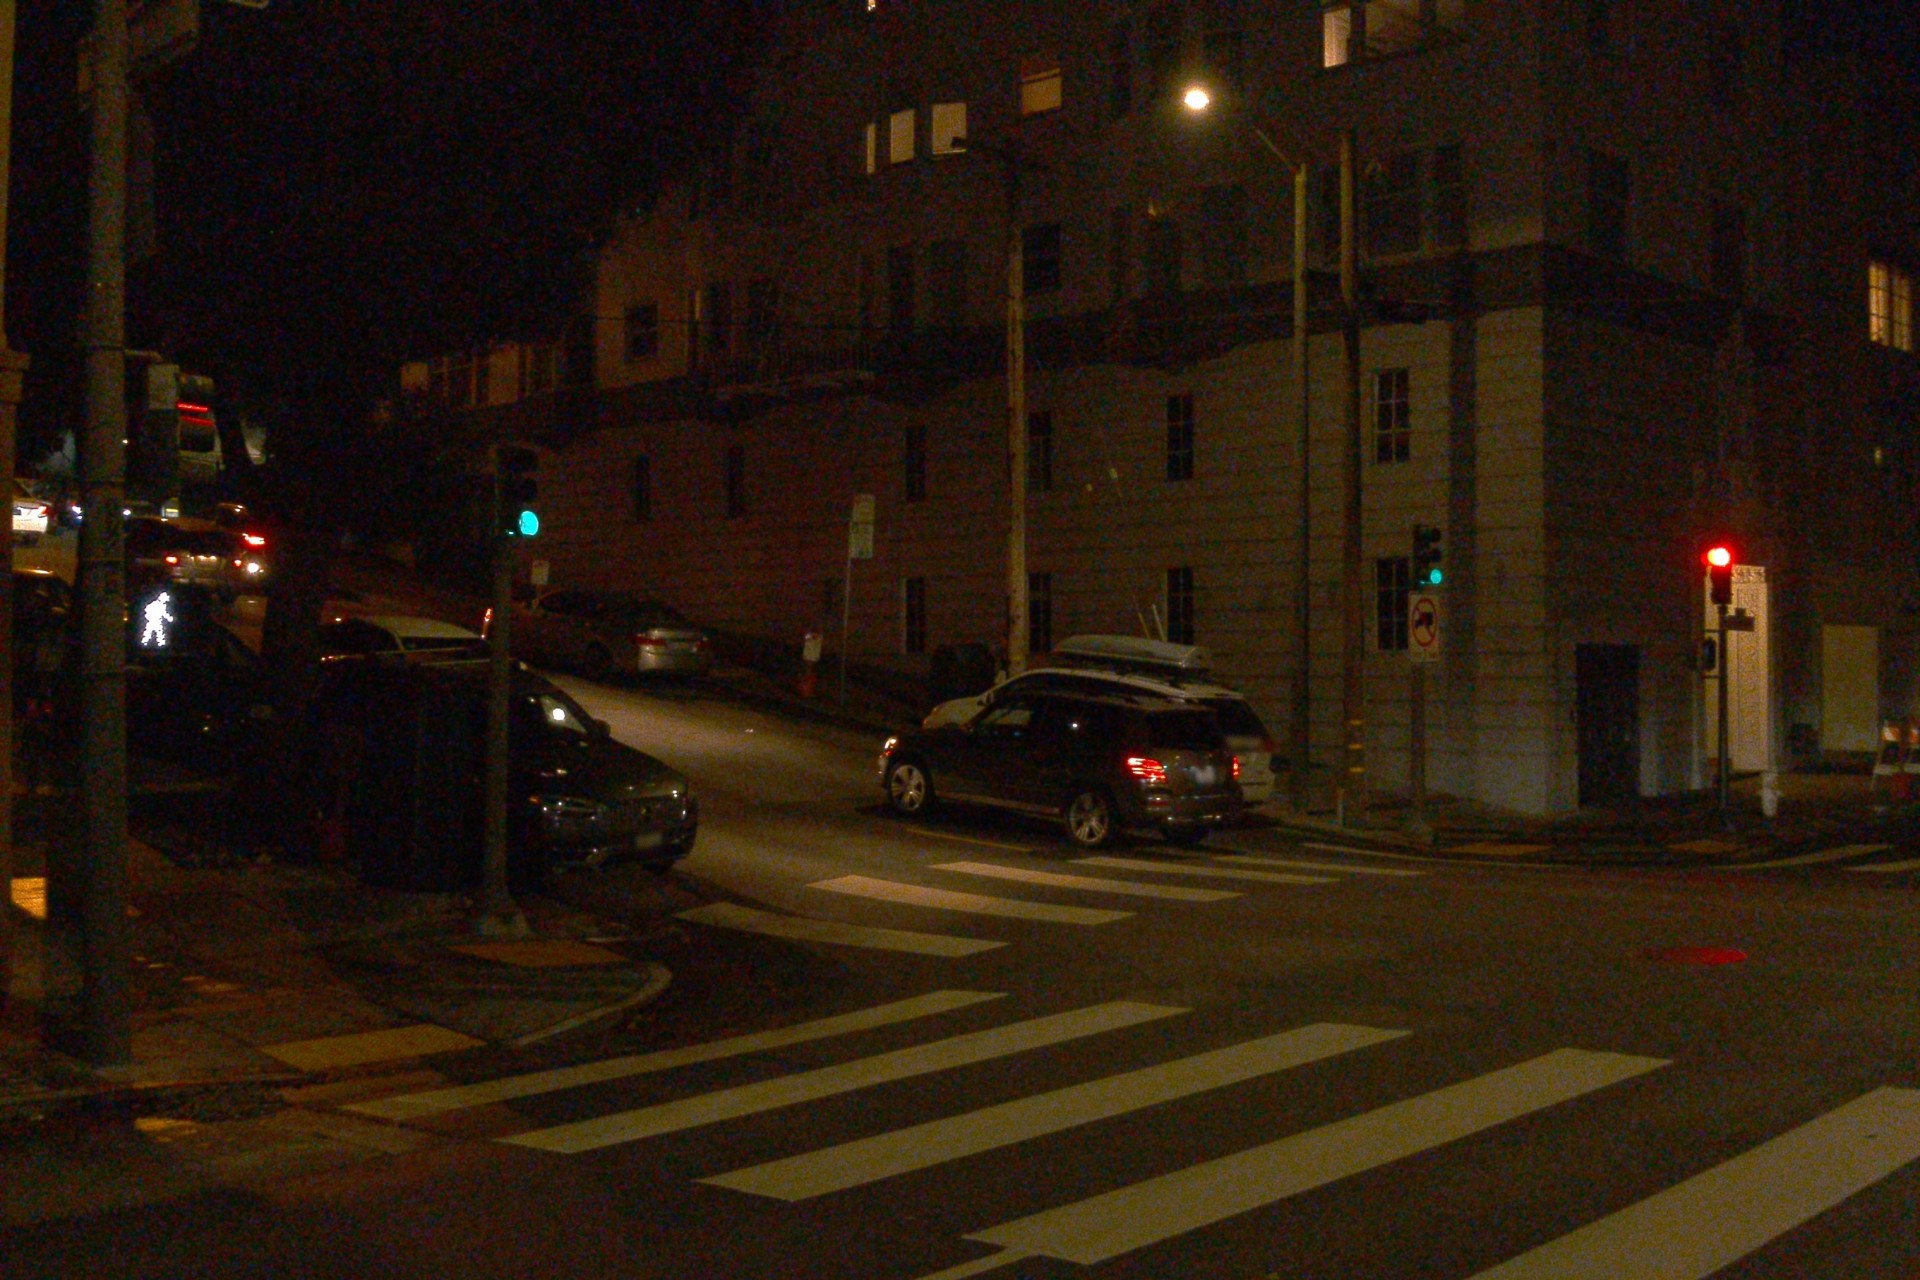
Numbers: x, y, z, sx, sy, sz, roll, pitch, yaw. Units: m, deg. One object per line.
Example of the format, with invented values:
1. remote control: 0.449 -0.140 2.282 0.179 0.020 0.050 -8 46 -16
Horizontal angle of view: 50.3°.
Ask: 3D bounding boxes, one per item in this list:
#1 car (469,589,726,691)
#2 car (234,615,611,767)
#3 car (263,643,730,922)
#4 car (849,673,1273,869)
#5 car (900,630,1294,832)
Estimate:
1. car: -6.225 -0.029 34.840 4.539 1.626 1.925 1 1 42
2. car: -6.950 0.579 26.232 4.872 1.748 2.180 1 1 39
3. car: -4.595 1.214 19.800 2.195 2.290 4.784 0 1 -44
4. car: 1.071 1.379 23.327 4.561 1.883 2.058 1 1 43
5. car: 1.727 1.093 27.129 4.904 2.388 2.213 1 1 44
